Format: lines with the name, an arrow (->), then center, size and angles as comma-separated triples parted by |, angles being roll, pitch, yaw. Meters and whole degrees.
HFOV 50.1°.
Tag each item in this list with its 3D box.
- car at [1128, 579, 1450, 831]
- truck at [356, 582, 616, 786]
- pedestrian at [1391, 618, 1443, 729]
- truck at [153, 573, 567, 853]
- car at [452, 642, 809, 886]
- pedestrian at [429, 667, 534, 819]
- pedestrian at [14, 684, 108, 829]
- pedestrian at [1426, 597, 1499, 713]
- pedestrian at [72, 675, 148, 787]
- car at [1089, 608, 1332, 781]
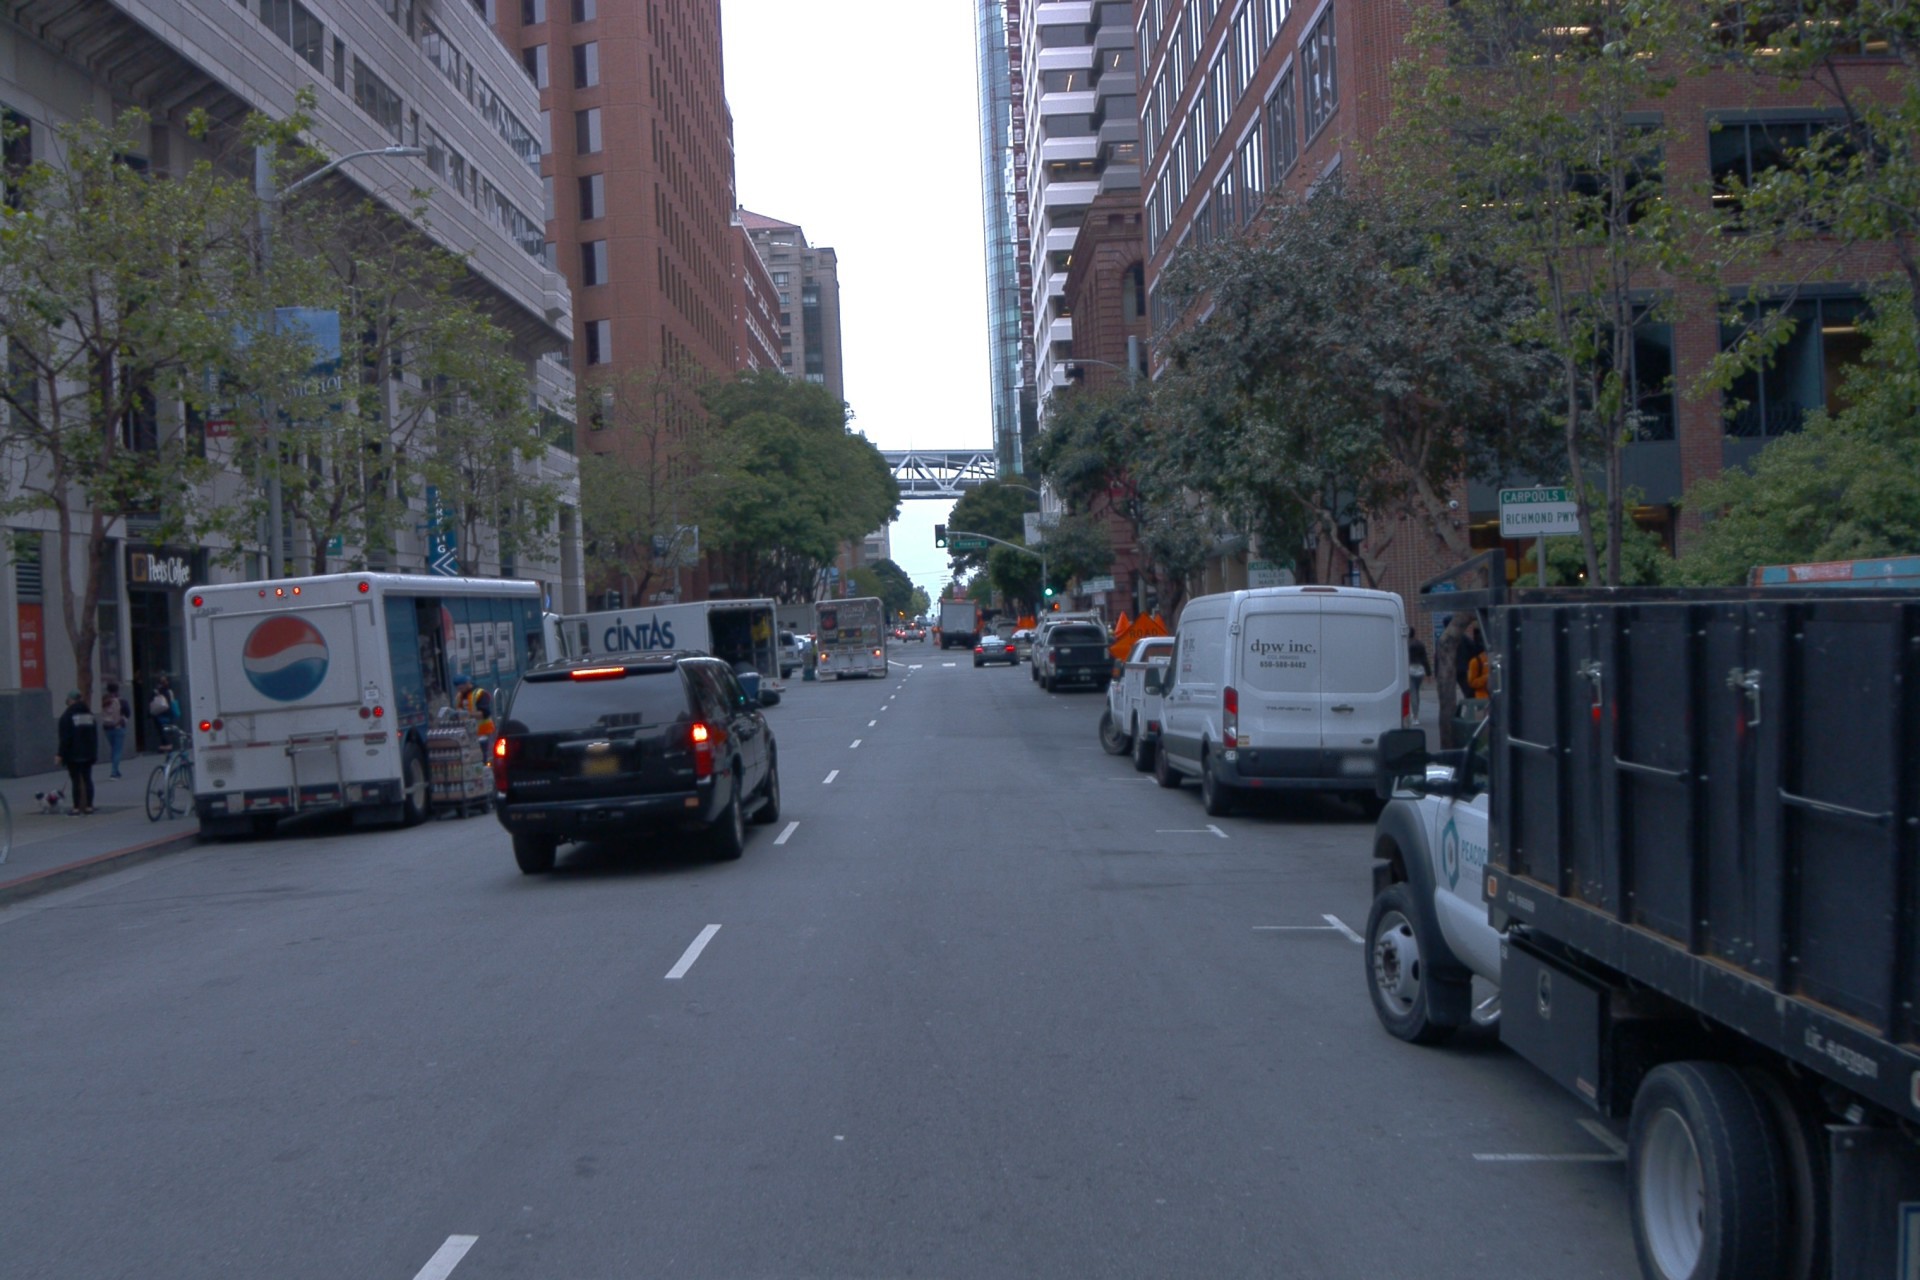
car -> 3.622, 0.624, 24.067 | 2.501, 2.560, 6.049 | 0, 1, -3
truck -> -7.729, 0.640, 34.279 | 2.964, 3.110, 5.684 | 0, 1, 1
pedestrian -> 7.814, 0.558, 35.192 | 0.660, 1.850, 1.184 | 0, 1, 3
truck -> -7.674, 0.758, 27.973 | 2.745, 3.140, 9.690 | 0, 1, 0
car -> -2.917, 1.024, 19.794 | 2.449, 1.929, 5.813 | 0, 1, 1
pedestrian -> -6.069, 1.285, 26.065 | 0.989, 1.860, 0.829 | 0, 1, 32
pedestrian -> -11.294, 1.445, 25.823 | 0.759, 1.750, 0.753 | 0, 1, 23
pedestrian -> 8.608, 0.242, 35.234 | 0.910, 1.950, 1.054 | 0, 1, -6
pedestrian -> -13.531, 1.436, 32.745 | 0.769, 1.720, 1.001 | 0, 1, 3
car -> 3.528, 0.689, 30.409 | 2.613, 2.293, 5.986 | 0, 1, -2
